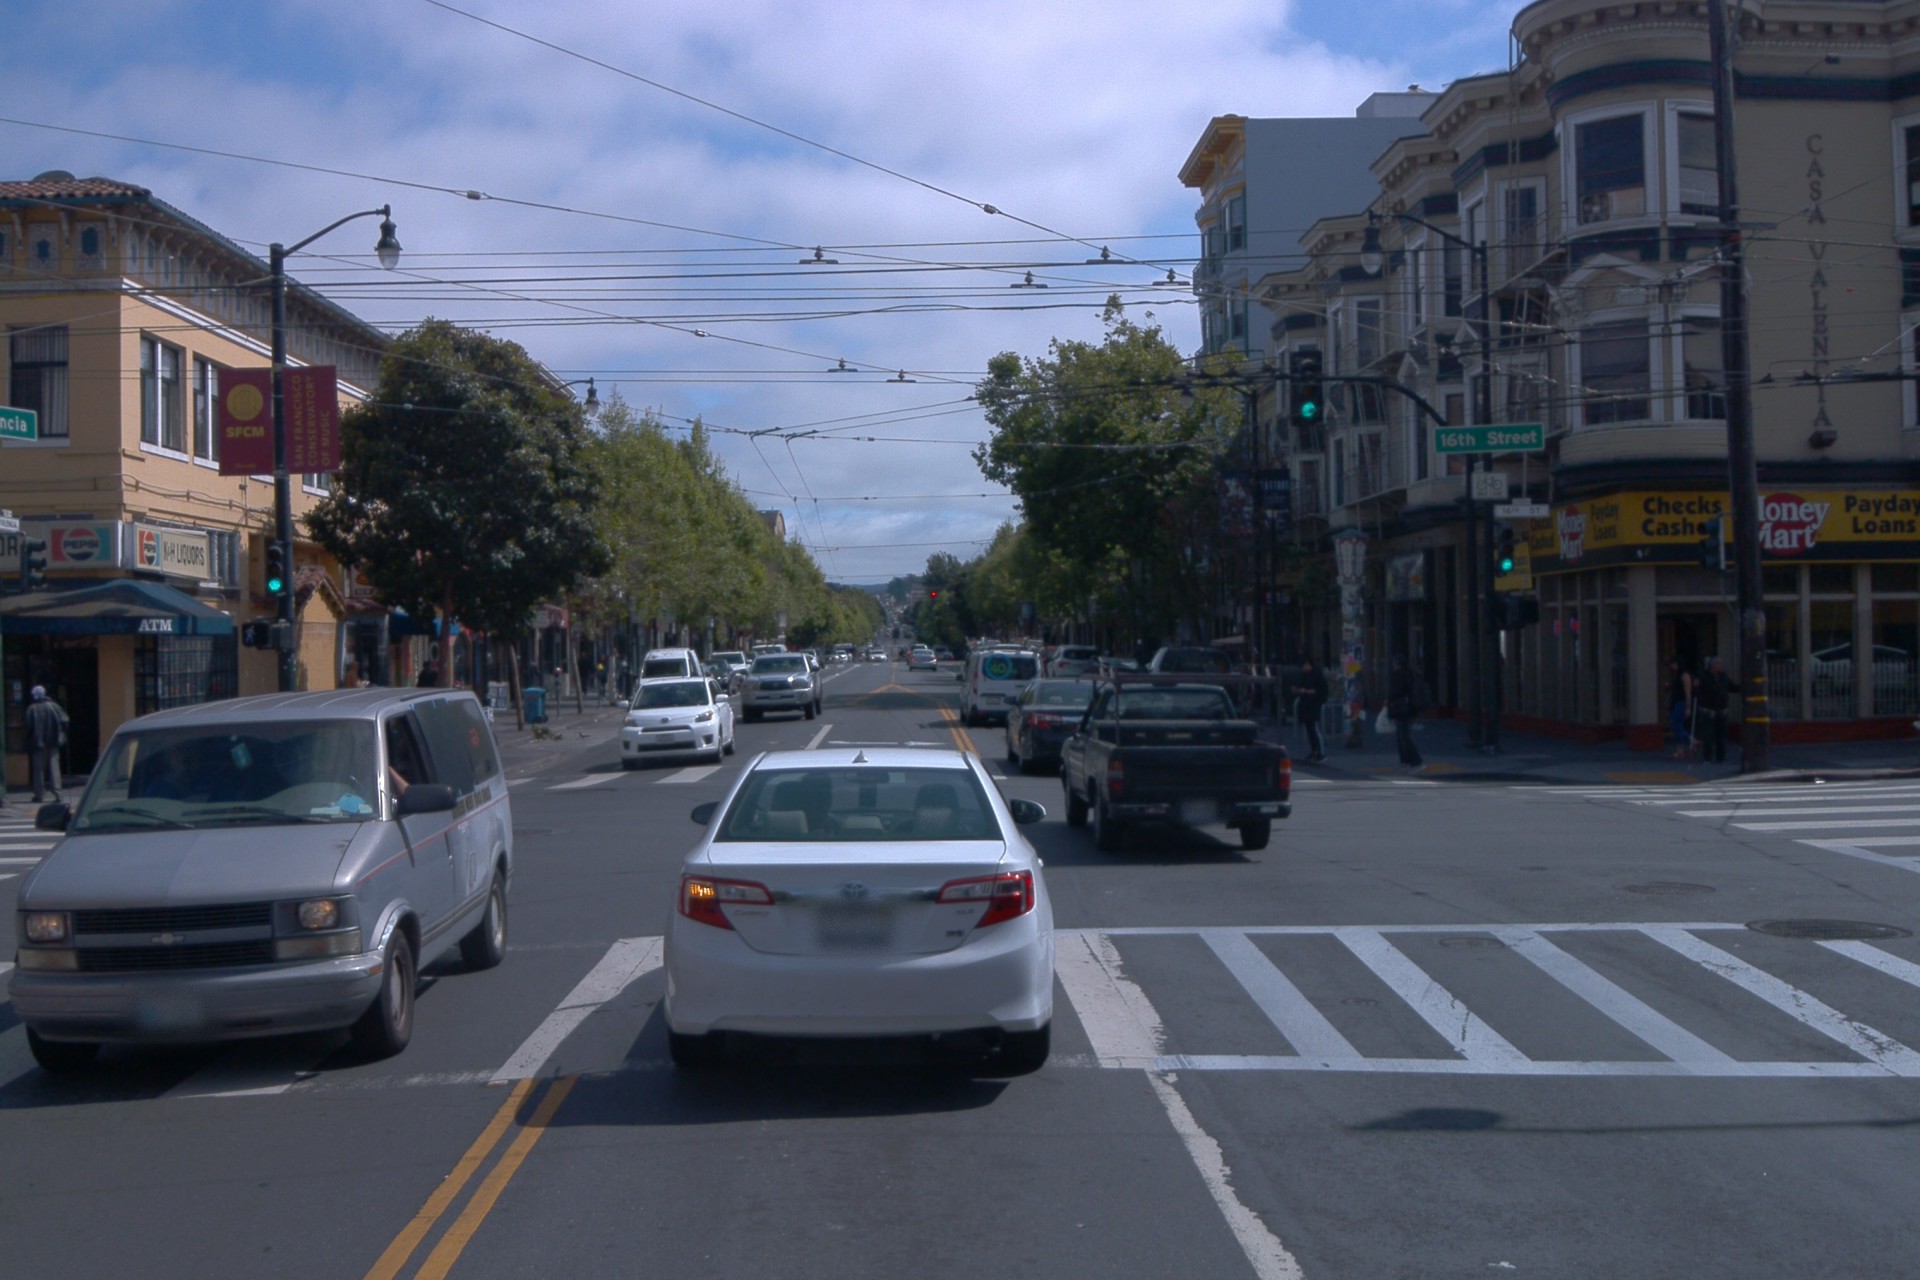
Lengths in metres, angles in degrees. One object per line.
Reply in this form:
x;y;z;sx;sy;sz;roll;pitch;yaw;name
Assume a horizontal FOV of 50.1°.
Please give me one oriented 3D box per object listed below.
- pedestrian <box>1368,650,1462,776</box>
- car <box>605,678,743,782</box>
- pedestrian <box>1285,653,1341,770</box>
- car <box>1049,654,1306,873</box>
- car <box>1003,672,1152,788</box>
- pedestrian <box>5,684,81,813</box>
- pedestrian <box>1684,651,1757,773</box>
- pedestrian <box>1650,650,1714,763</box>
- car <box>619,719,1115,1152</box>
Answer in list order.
7.215;1.139;32.603;0.932;1.920;1.116;-1;1;-31;pedestrian
-4.957;1.534;36.113;1.947;1.610;3.886;0;1;-1;car
5.928;1.191;34.563;0.766;1.920;0.749;0;1;-5;pedestrian
1.993;1.094;20.108;1.837;1.810;4.425;0;1;-3;car
1.782;1.359;32.425;1.908;1.560;4.462;0;1;-2;car
-13.663;1.596;30.638;0.900;1.850;0.717;-1;1;-34;pedestrian
11.608;1.081;31.416;1.003;1.790;1.325;0;1;19;pedestrian
11.461;1.040;32.653;0.932;1.750;0.695;0;1;17;pedestrian
-0.490;1.325;10.920;2.079;1.570;4.573;0;1;-3;car
